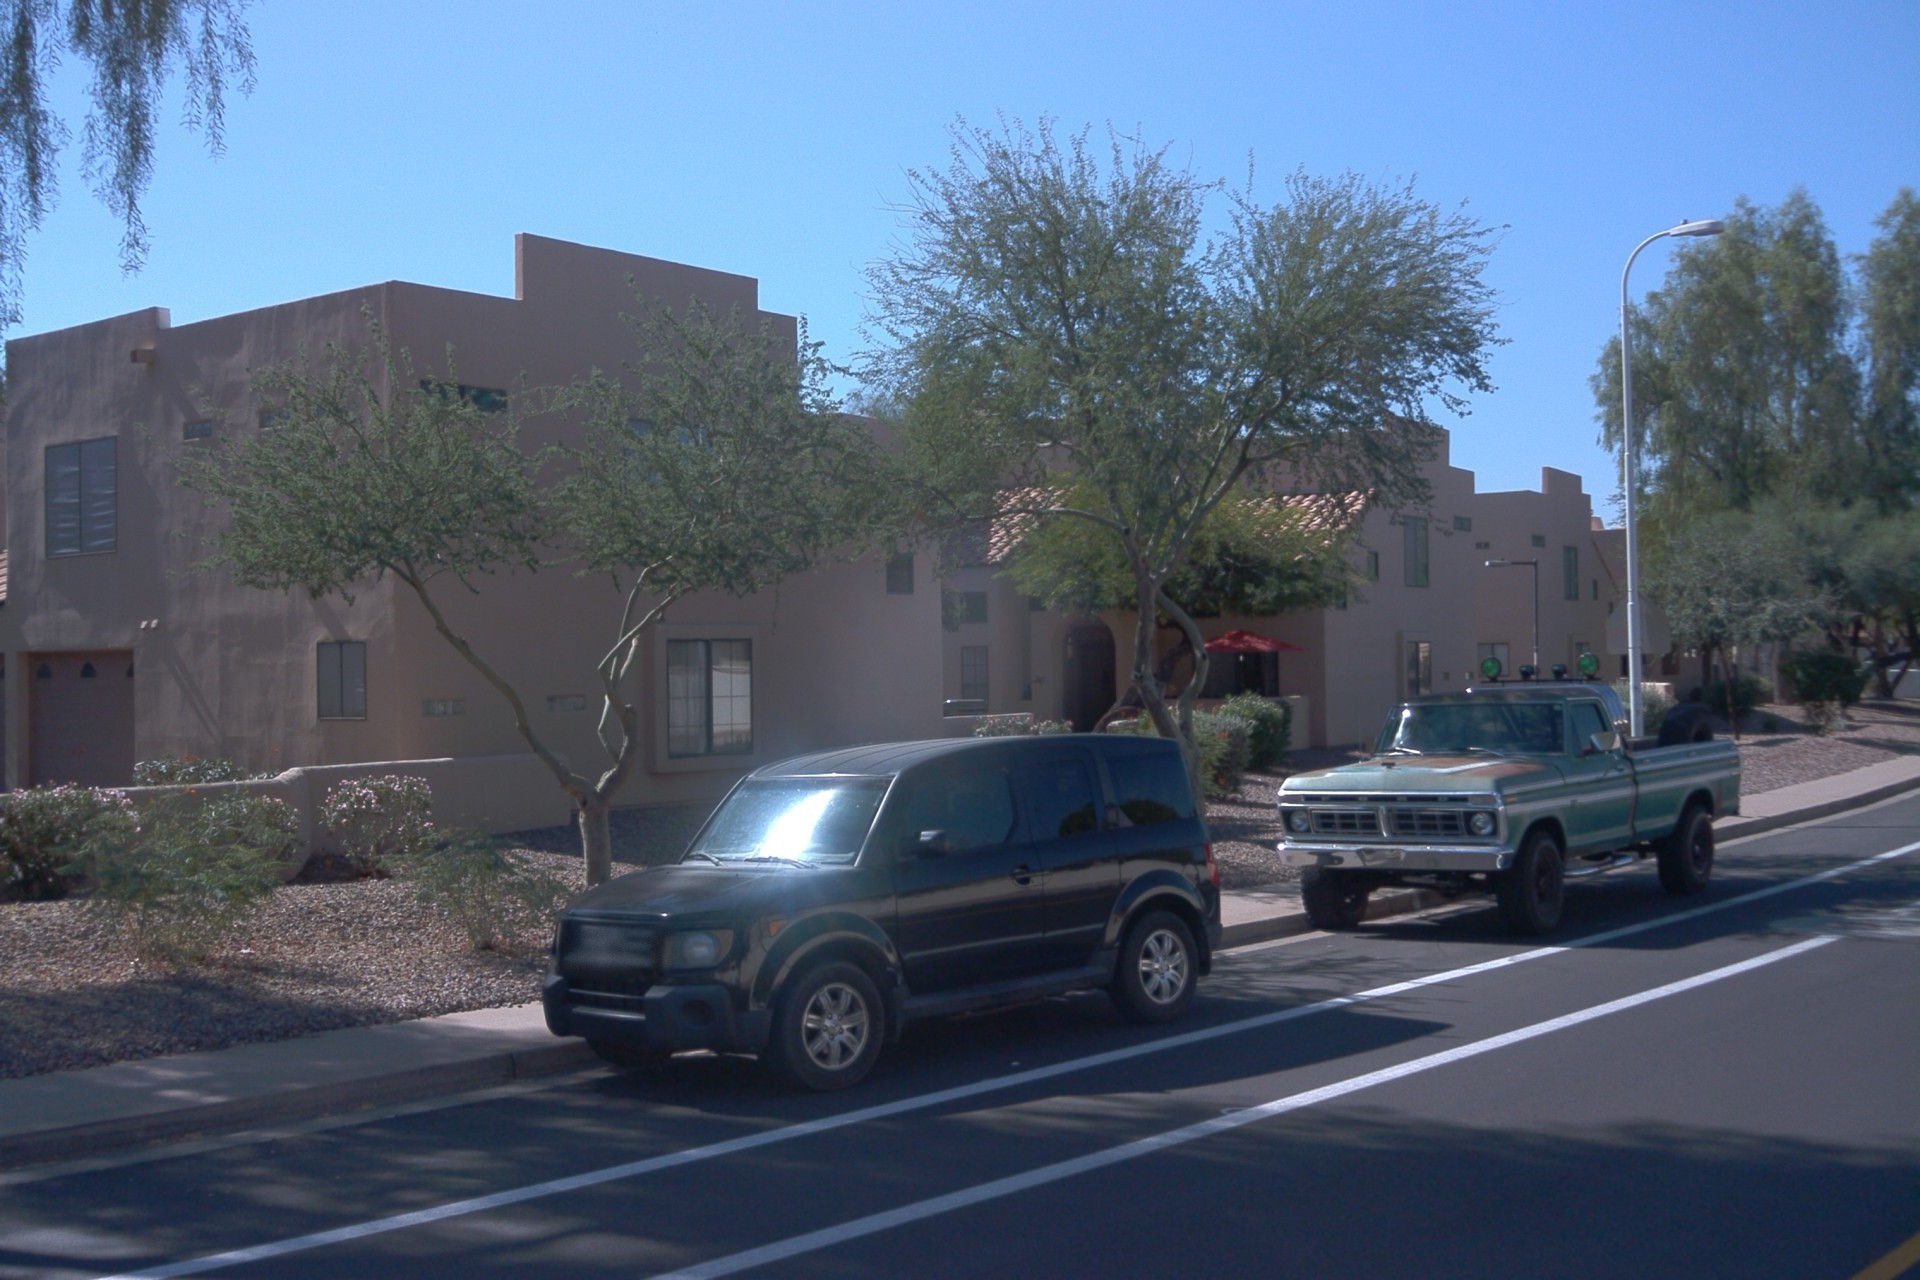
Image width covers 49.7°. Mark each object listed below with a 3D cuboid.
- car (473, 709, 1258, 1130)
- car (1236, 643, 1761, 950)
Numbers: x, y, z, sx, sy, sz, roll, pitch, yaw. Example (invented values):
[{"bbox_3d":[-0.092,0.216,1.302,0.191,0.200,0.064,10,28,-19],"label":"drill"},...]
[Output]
[{"bbox_3d":[-0.386,1.407,12.152,1.994,1.860,4.430,0,0,44],"label":"car"},{"bbox_3d":[4.954,1.176,18.341,2.407,2.270,5.623,0,0,39],"label":"car"}]
